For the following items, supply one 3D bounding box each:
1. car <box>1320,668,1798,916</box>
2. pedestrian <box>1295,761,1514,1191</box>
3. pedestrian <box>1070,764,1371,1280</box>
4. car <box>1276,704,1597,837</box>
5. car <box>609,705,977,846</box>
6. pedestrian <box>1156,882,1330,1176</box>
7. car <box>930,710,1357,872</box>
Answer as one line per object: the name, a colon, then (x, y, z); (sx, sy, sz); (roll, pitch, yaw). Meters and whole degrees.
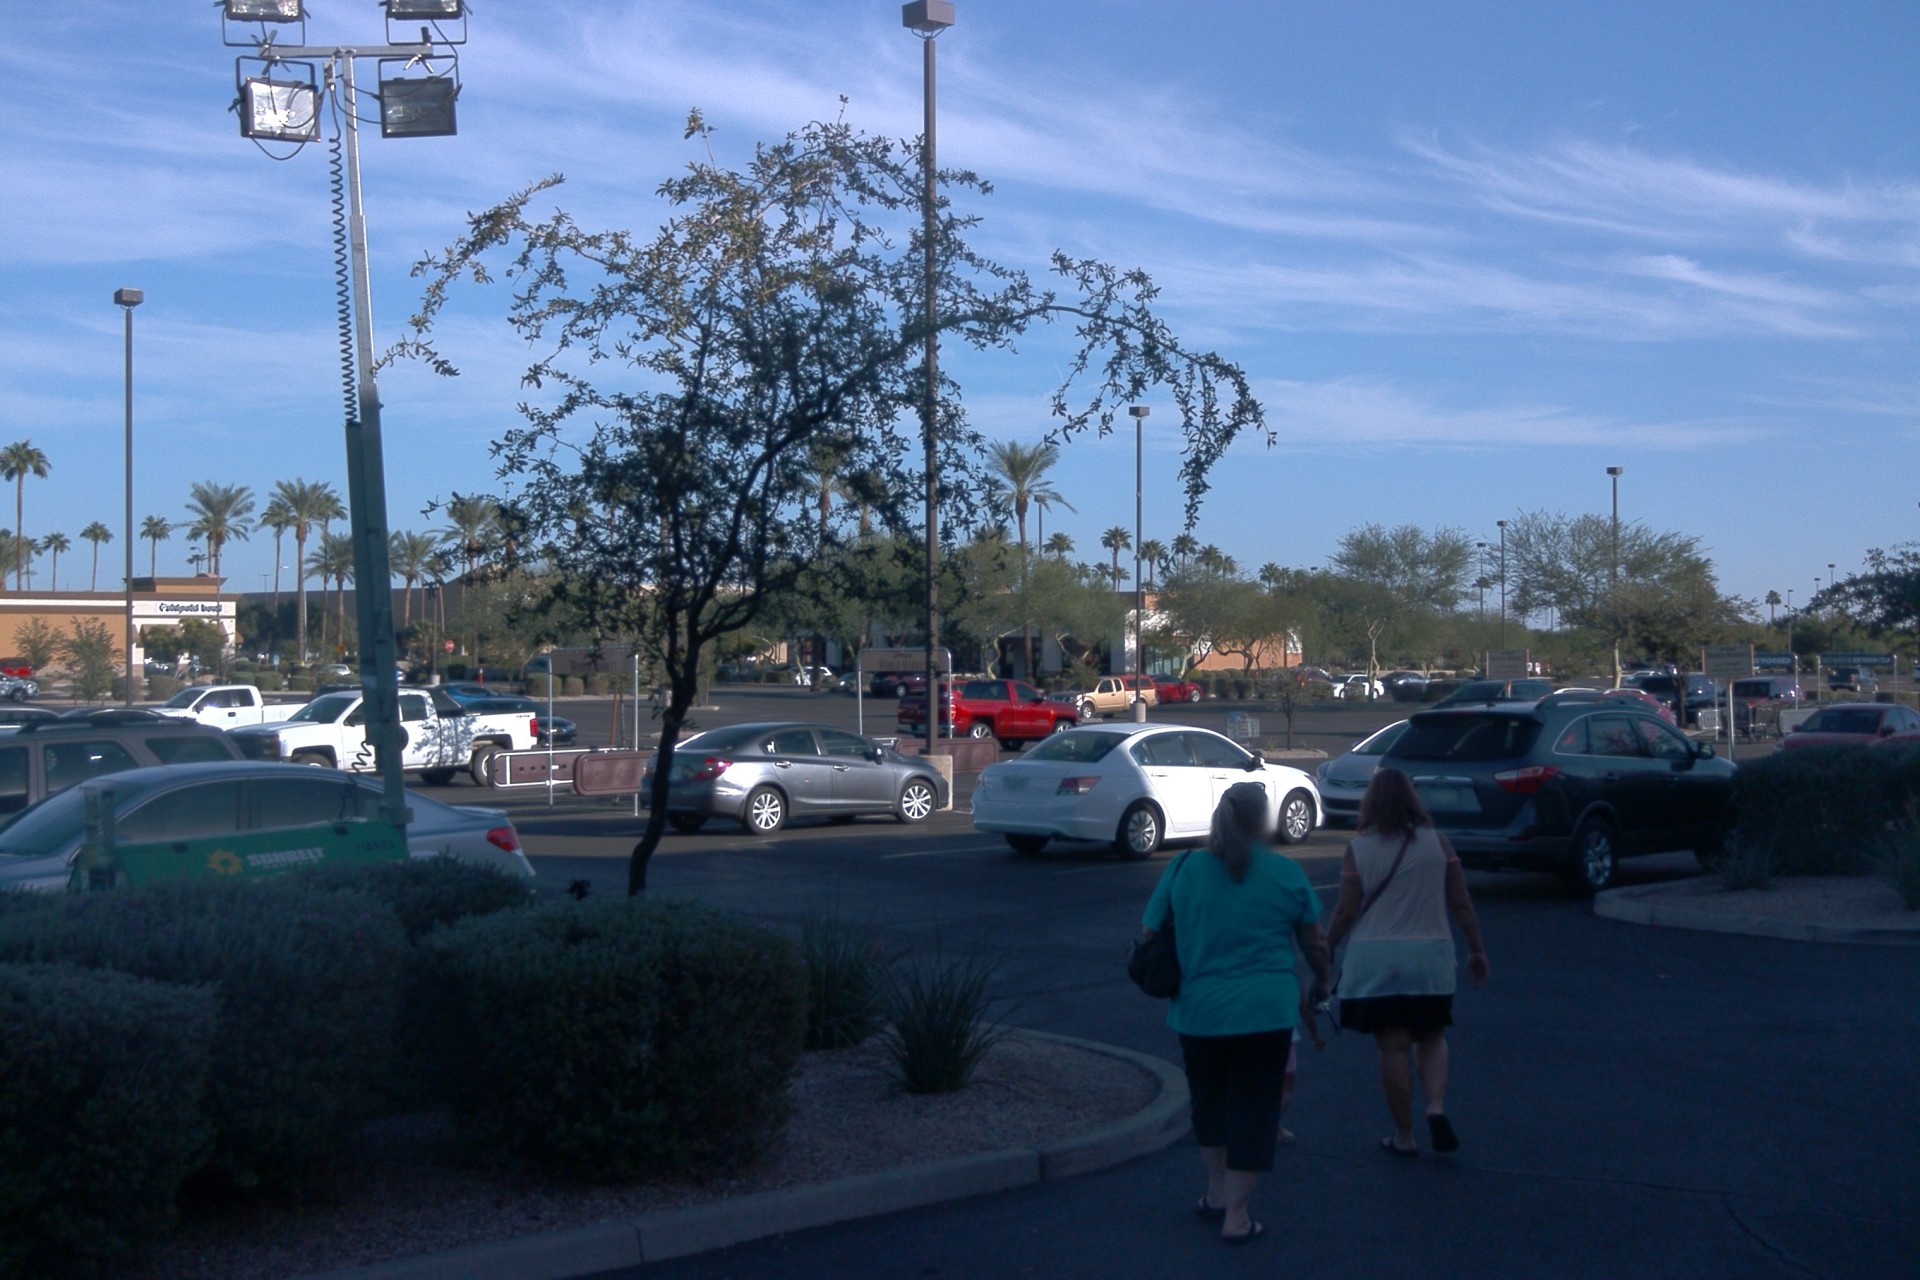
car: (5.856, 1.302, 20.045); (2.225, 1.990, 5.114); (0, 0, 45)
pedestrian: (1.880, 1.389, 8.969); (0.840, 1.680, 0.918); (0, 0, 7)
pedestrian: (0.979, 1.345, 7.717); (0.860, 1.700, 0.905); (0, 0, 25)
car: (6.511, 1.690, 28.268); (2.055, 1.490, 4.695); (0, 0, 45)
car: (-2.164, 1.736, 28.095); (2.187, 1.560, 4.643); (0, 0, 44)
pedestrian: (1.221, 1.641, 8.976); (0.559, 1.110, 0.592); (0, 0, 29)
car: (2.226, 1.652, 24.266); (5.046, 1.500, 2.172); (0, 0, -44)
